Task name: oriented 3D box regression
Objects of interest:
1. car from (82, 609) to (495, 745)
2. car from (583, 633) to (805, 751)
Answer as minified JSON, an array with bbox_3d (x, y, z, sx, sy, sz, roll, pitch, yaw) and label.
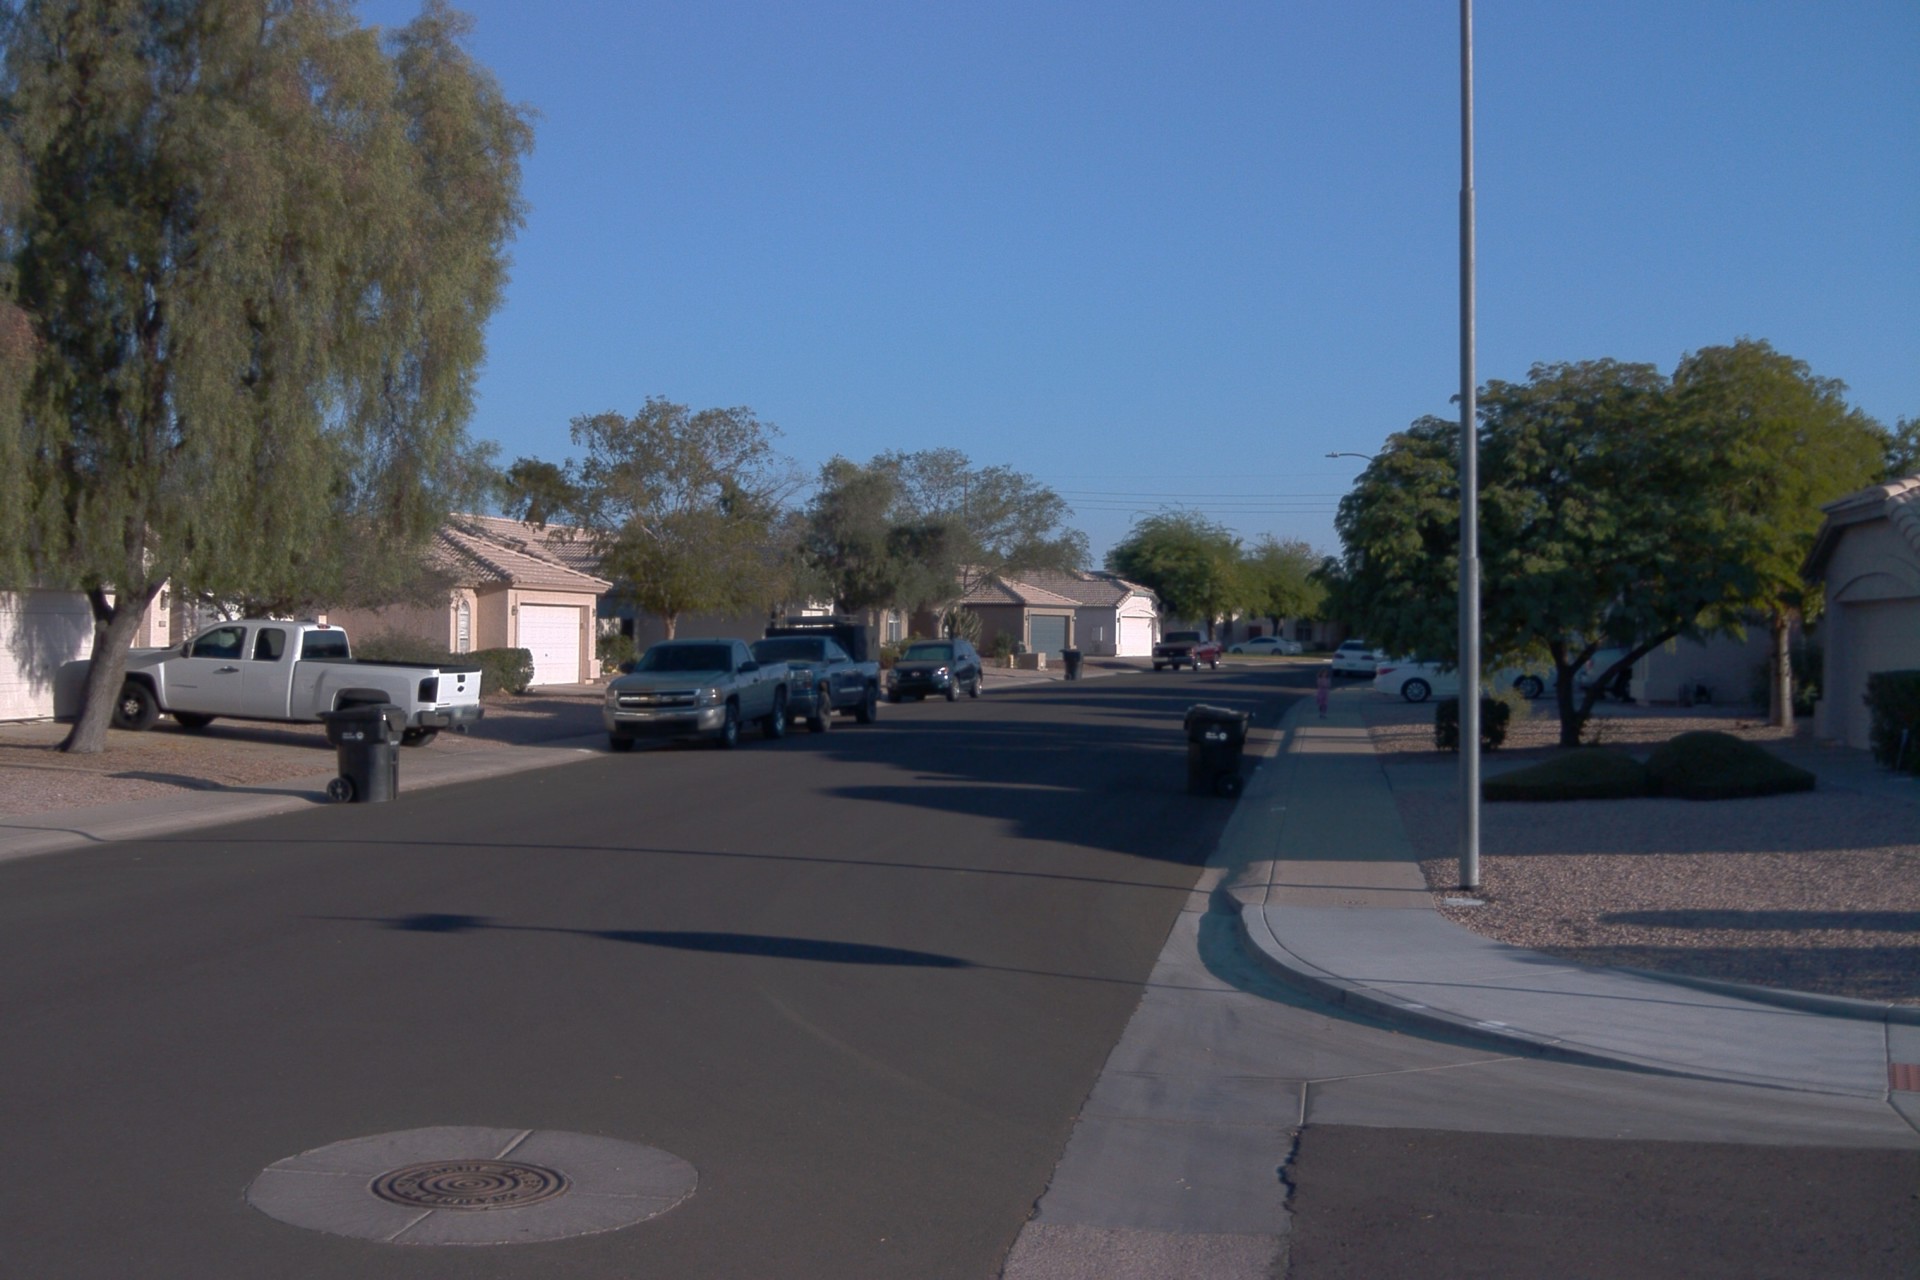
[{"bbox_3d":[-10.399,0.582,32.426,5.775,2.020,2.103,-1,-1,9],"label":"car"},{"bbox_3d":[-4.538,0.877,36.547,2.294,1.920,5.372,-1,-1,11],"label":"car"}]
